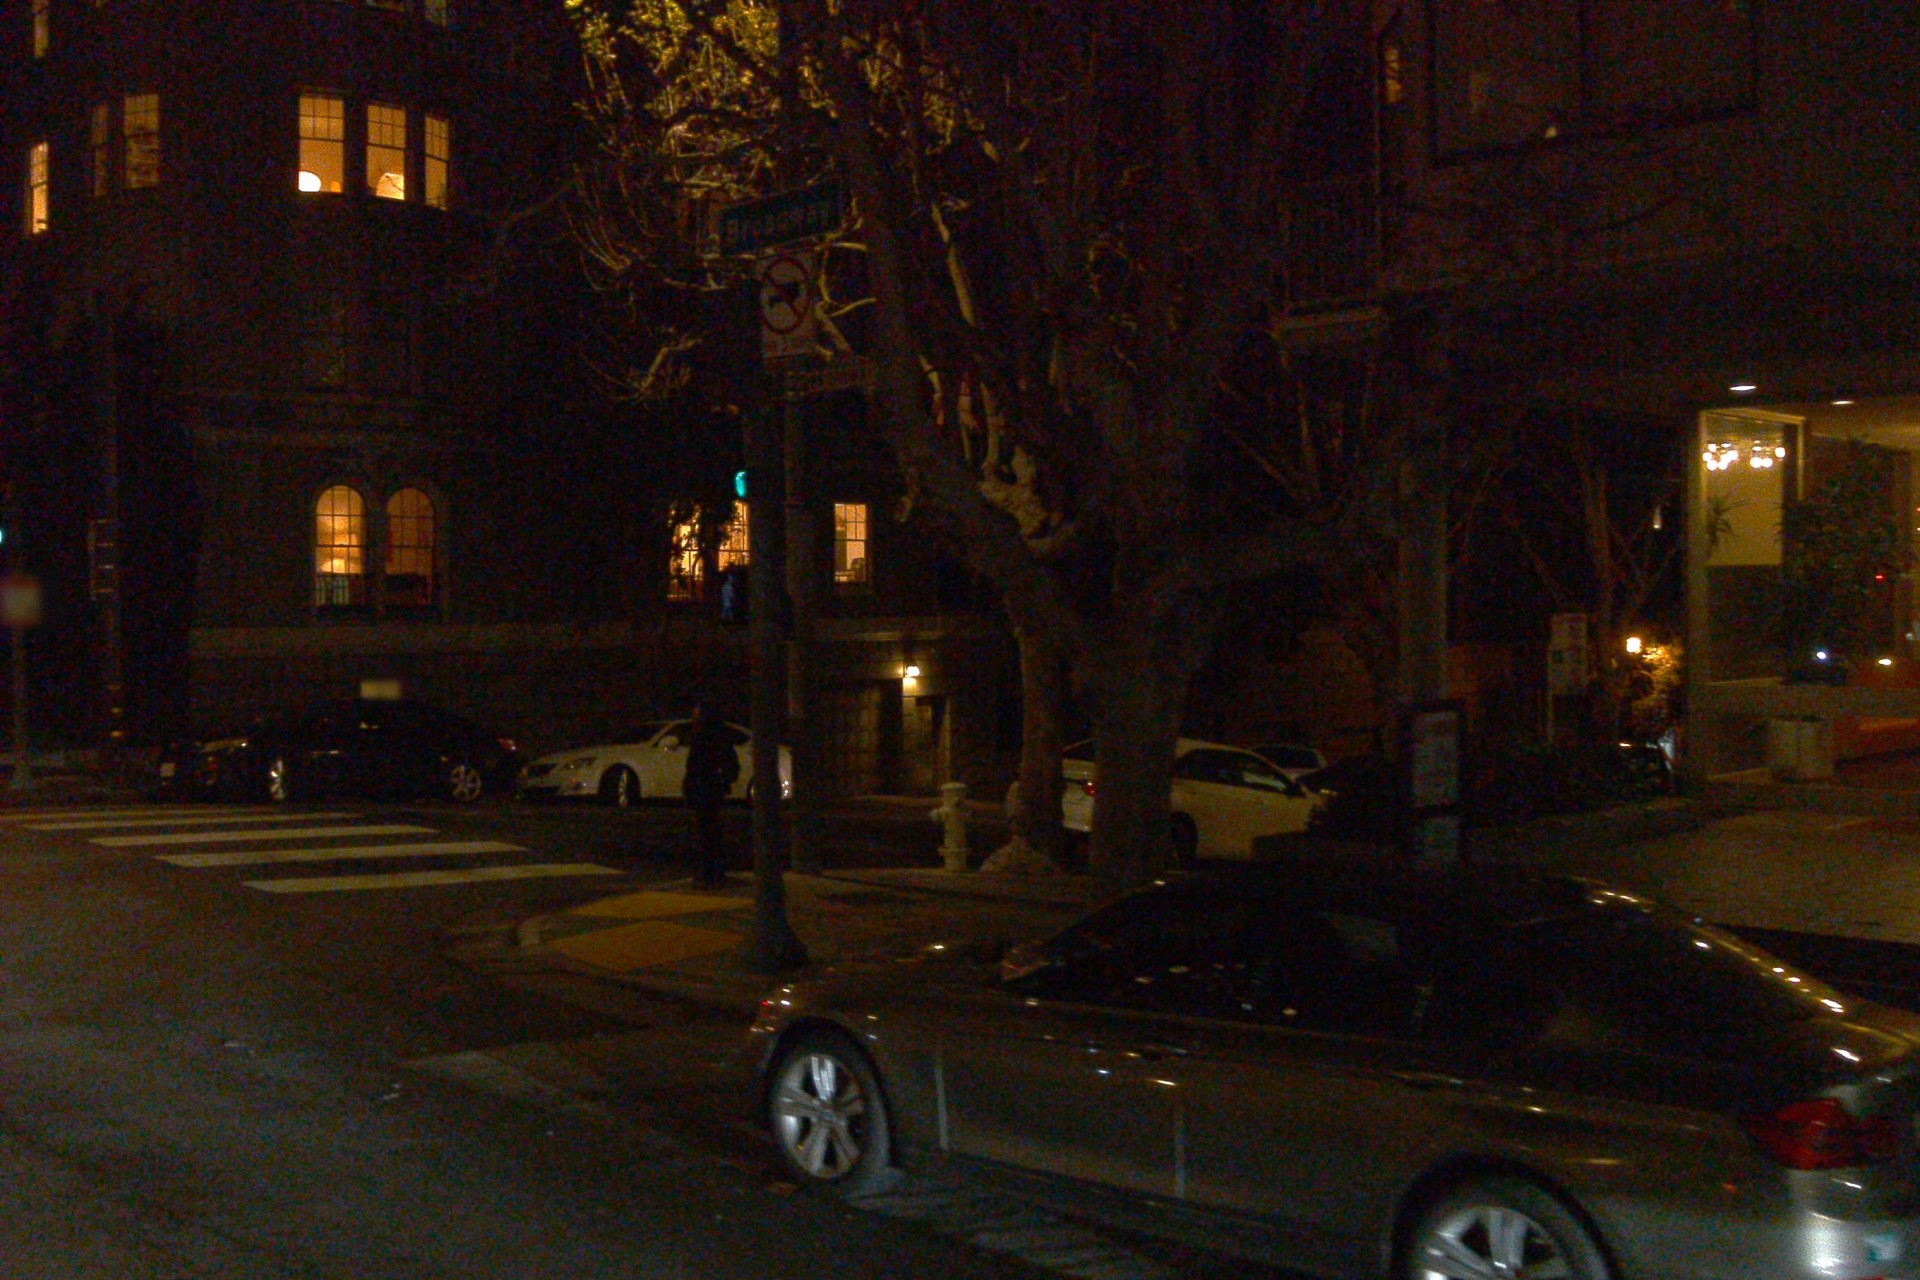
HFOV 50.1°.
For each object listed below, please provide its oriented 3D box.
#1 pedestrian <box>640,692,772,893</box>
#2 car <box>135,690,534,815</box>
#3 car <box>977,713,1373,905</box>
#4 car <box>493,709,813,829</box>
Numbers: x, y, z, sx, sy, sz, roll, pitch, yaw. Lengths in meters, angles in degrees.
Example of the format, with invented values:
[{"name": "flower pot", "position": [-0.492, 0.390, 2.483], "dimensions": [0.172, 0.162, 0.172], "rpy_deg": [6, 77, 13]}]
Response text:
[{"name": "pedestrian", "position": [-2.095, 1.228, 16.902], "dimensions": [0.707, 1.570, 0.903], "rpy_deg": [0, 0, -38]}, {"name": "car", "position": [-7.994, 1.383, 26.595], "dimensions": [1.838, 1.362, 4.644], "rpy_deg": [1, 0, 42]}, {"name": "car", "position": [2.527, 1.813, 23.339], "dimensions": [4.554, 1.811, 1.990], "rpy_deg": [0, 0, -44]}, {"name": "car", "position": [-4.465, 1.841, 30.398], "dimensions": [1.919, 1.482, 4.488], "rpy_deg": [1, 0, 42]}]
